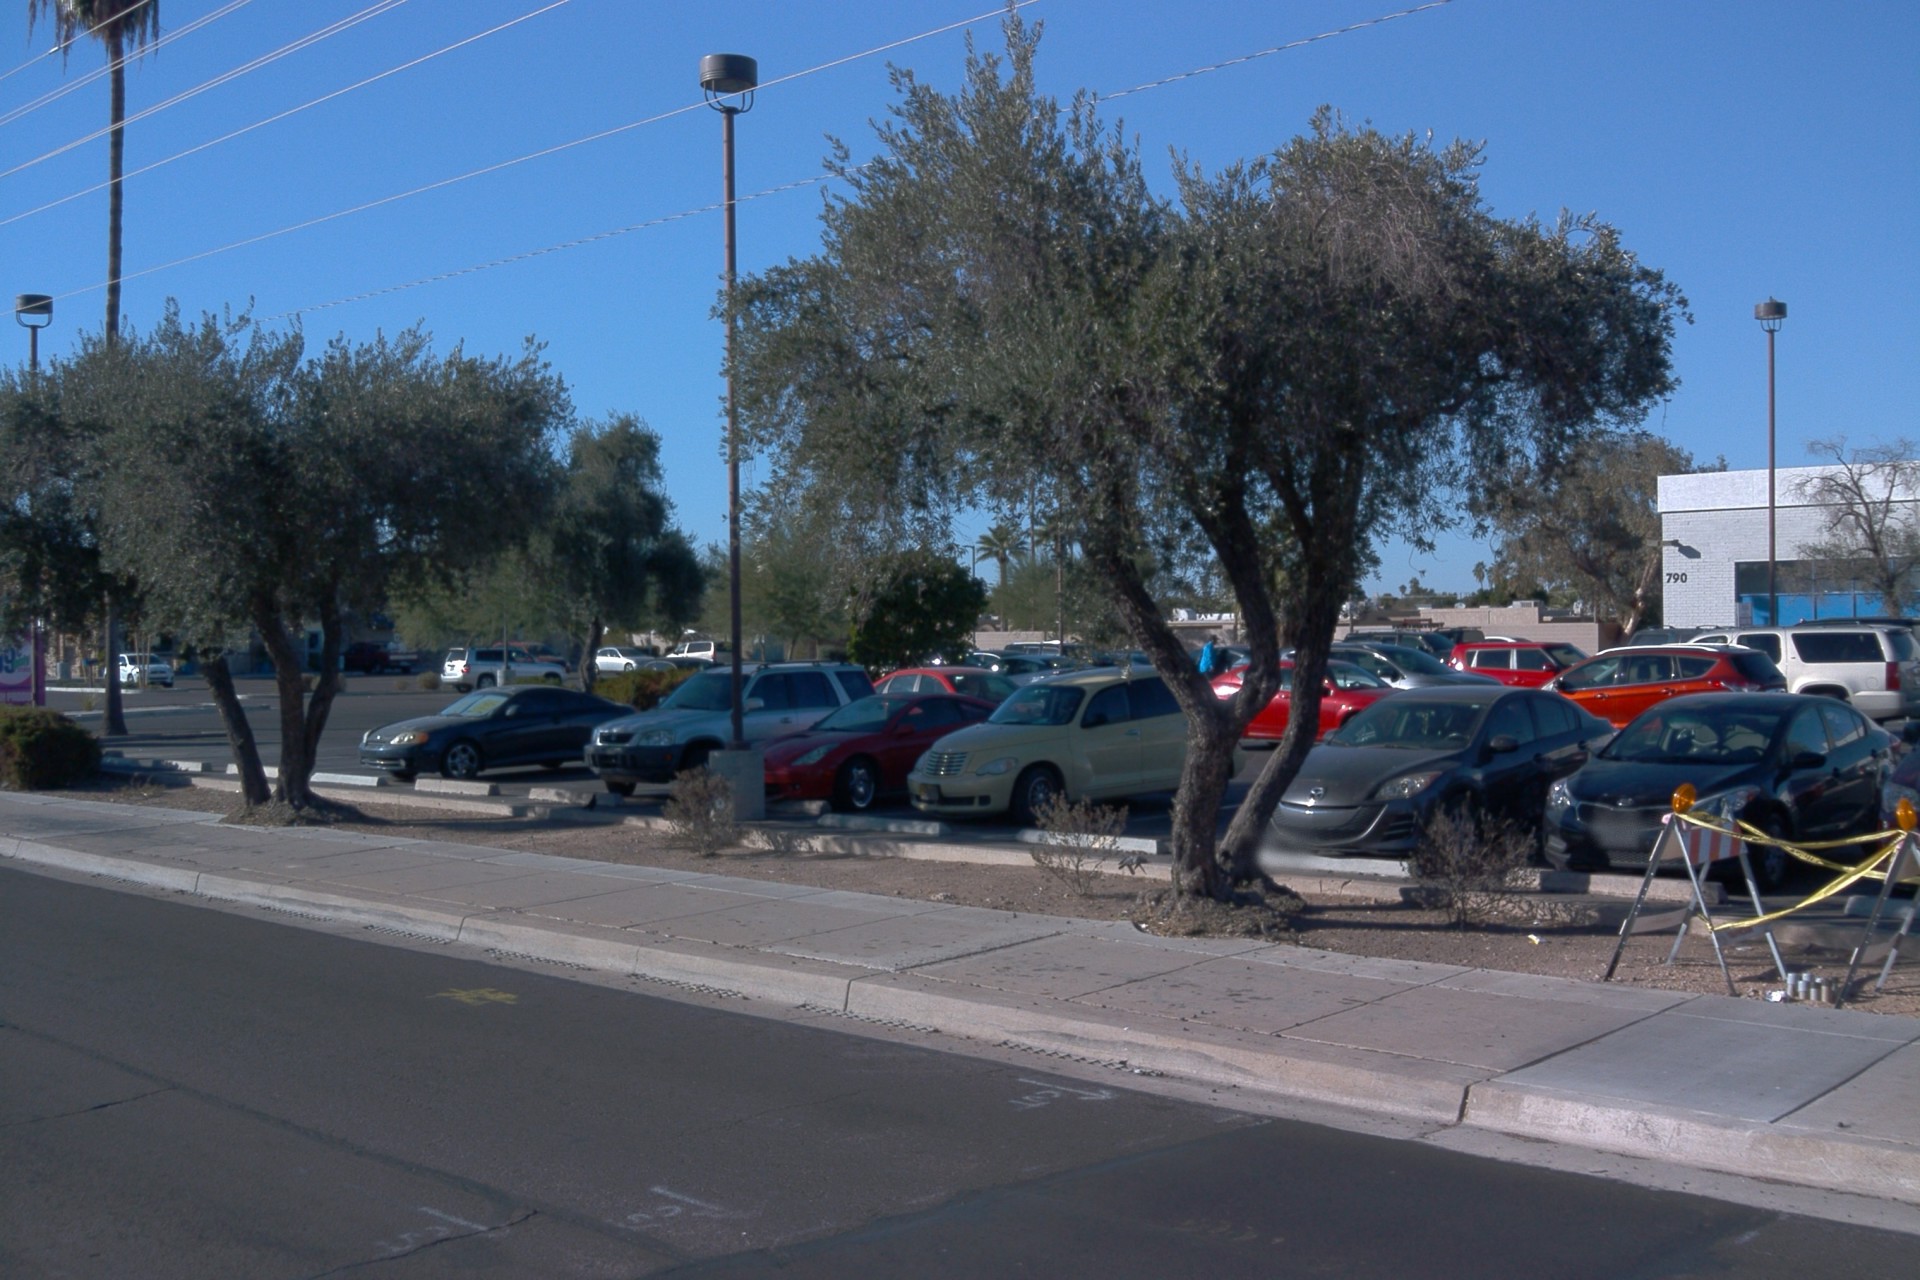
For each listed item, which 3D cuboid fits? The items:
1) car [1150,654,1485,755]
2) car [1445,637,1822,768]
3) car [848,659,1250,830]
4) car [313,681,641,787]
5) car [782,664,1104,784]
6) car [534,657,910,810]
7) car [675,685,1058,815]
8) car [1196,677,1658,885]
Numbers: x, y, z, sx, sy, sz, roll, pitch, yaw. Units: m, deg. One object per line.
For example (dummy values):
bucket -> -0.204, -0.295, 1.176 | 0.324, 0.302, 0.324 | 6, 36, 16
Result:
car -> 5.726, 1.010, 33.545 | 5.014, 1.520, 2.120 | -1, -1, 44
car -> 9.548, 0.858, 29.563 | 4.628, 1.730, 2.150 | -1, -1, 44
car -> 1.049, 1.084, 23.011 | 4.233, 1.720, 1.943 | 0, -1, -39
car -> -7.079, 1.327, 30.611 | 2.018, 1.410, 4.321 | -1, -1, 44
car -> -0.358, 1.229, 31.935 | 2.187, 1.690, 5.118 | 0, -1, -40
car -> -3.000, 1.131, 26.799 | 2.110, 1.800, 4.547 | -1, -1, 43
car -> -1.061, 1.256, 25.008 | 4.385, 1.380, 1.946 | 0, -1, -42
car -> 4.299, 1.148, 18.566 | 2.001, 1.590, 4.526 | -1, -1, 44
